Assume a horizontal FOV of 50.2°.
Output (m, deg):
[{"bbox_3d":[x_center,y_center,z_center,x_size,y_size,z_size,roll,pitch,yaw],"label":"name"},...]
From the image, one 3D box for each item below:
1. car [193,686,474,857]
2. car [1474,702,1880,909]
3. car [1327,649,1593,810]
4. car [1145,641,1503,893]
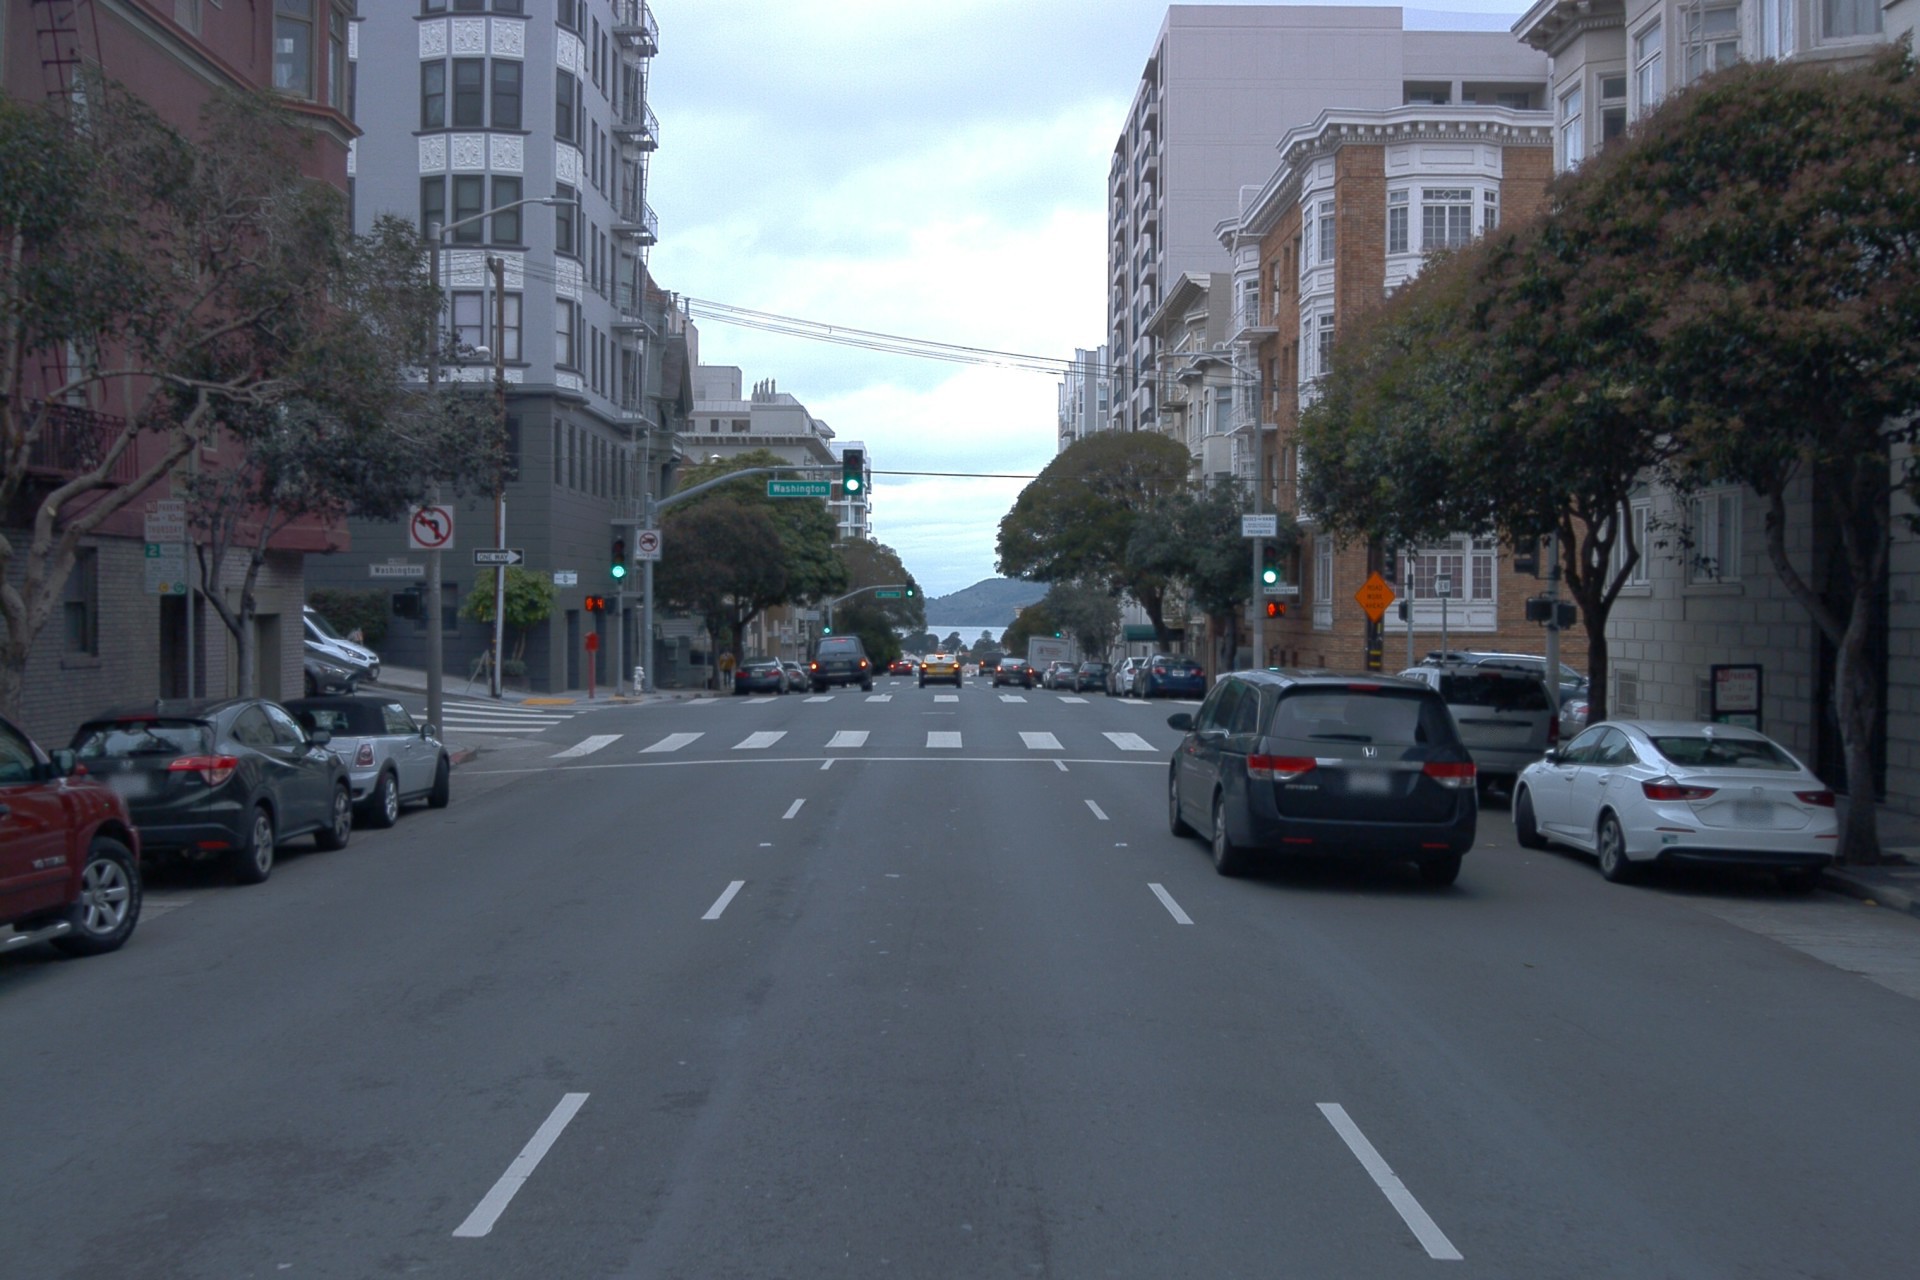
[{"bbox_3d":[-6.961,1.411,23.228,2.030,1.640,4.041,0,1,-1],"label":"car"},{"bbox_3d":[6.519,1.434,19.323,2.103,1.510,4.867,0,0,0],"label":"car"},{"bbox_3d":[6.488,1.092,27.274,2.317,1.880,4.984,0,1,0],"label":"car"},{"bbox_3d":[3.019,0.979,18.215,2.200,1.890,4.938,0,1,-1],"label":"car"}]
